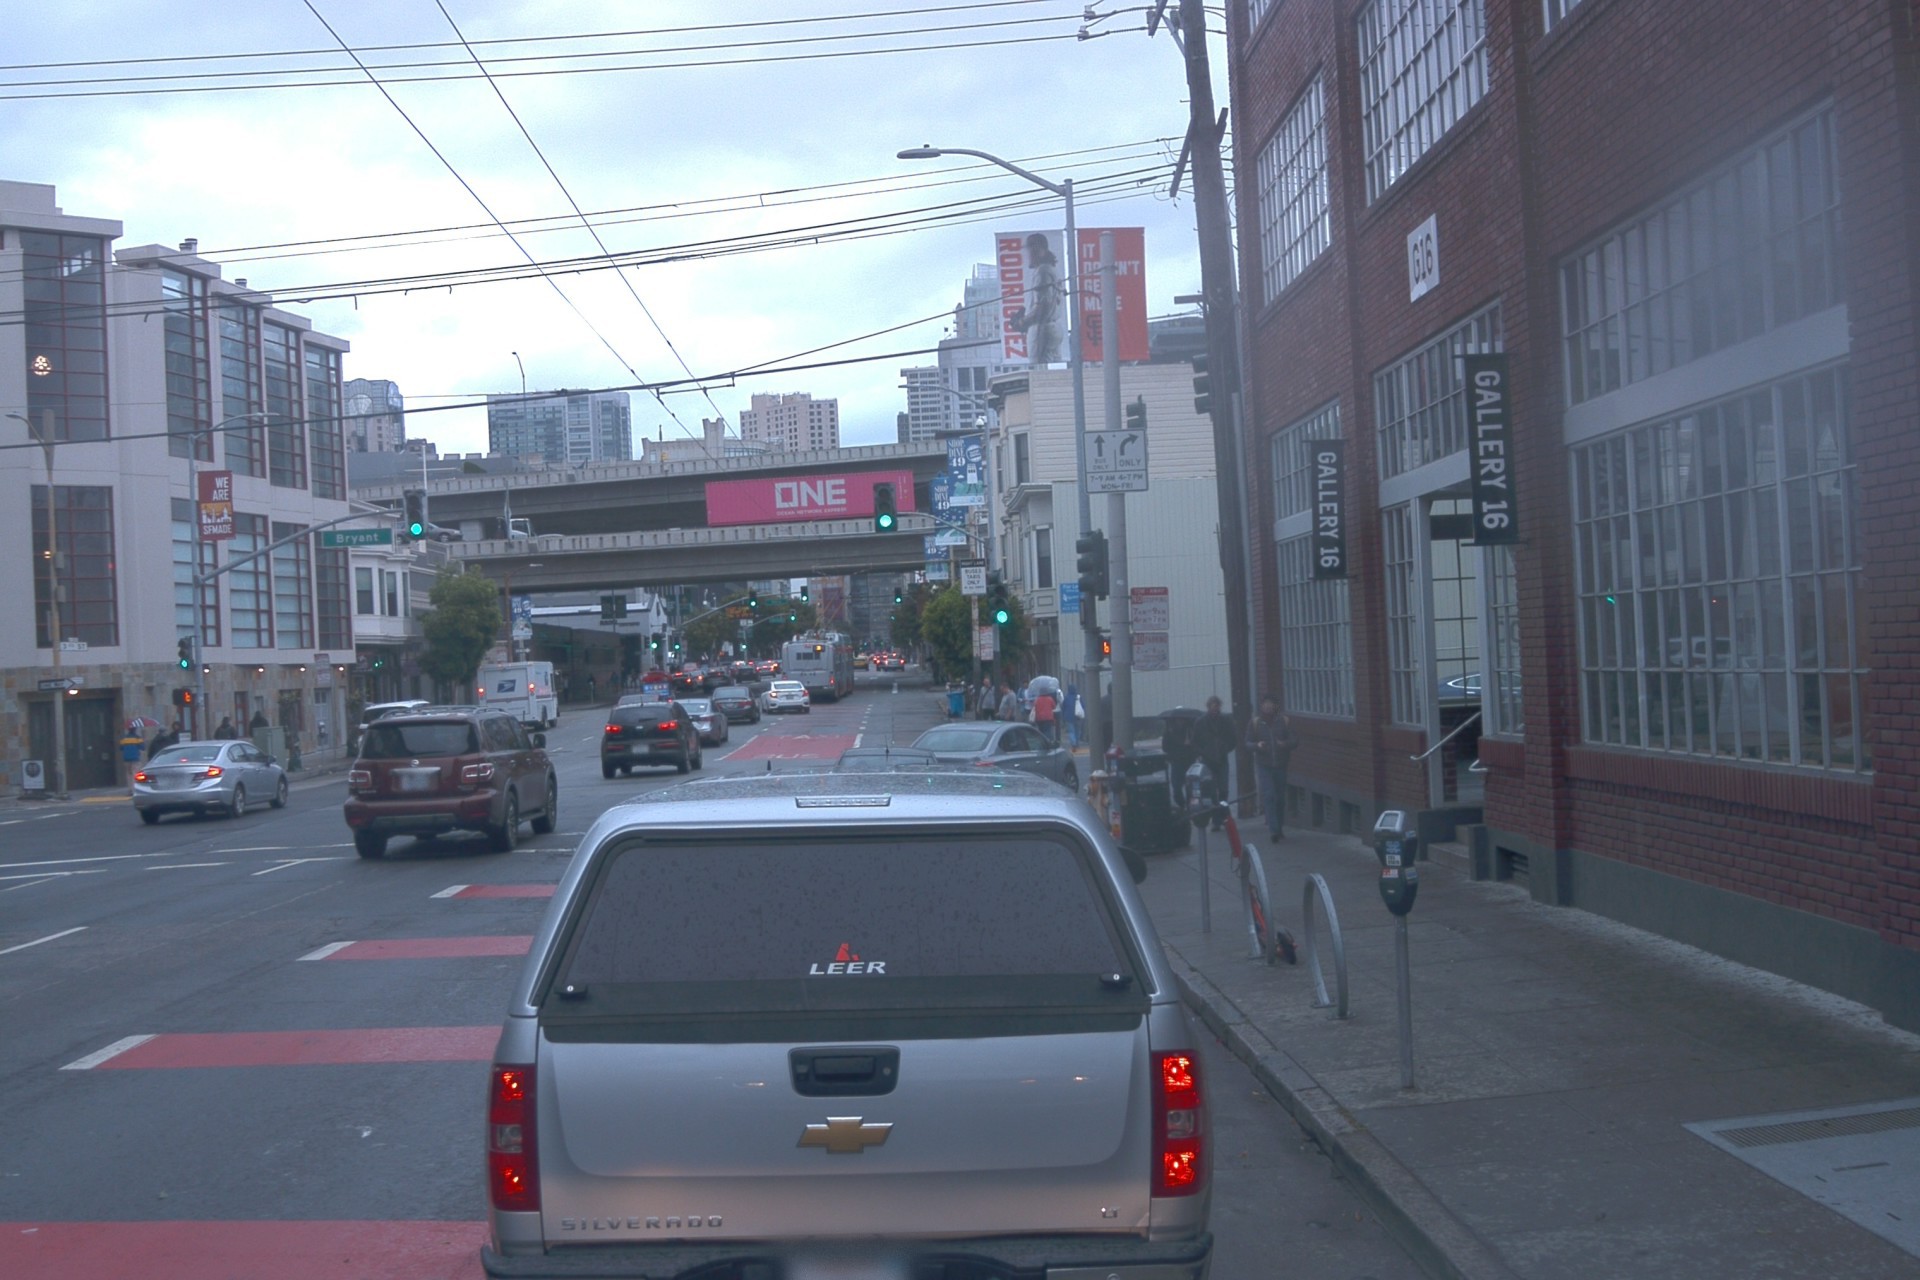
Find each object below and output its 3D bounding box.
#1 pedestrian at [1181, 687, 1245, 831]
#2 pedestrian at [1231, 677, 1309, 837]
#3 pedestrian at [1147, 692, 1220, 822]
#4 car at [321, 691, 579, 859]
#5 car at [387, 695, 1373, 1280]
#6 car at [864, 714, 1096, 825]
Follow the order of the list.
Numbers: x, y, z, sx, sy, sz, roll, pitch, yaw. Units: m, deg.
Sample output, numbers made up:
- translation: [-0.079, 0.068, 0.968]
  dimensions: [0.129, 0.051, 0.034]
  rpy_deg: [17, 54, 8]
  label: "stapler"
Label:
- translation: [3.348, 1.562, 27.488]
  dimensions: [0.749, 1.870, 0.954]
  rpy_deg: [0, -1, 1]
  label: "pedestrian"
- translation: [3.598, 1.349, 24.144]
  dimensions: [0.763, 1.820, 0.914]
  rpy_deg: [0, -1, 0]
  label: "pedestrian"
- translation: [3.292, 1.707, 30.600]
  dimensions: [1.015, 1.870, 1.039]
  rpy_deg: [0, -1, 3]
  label: "pedestrian"
- translation: [-6.988, 1.788, 29.078]
  dimensions: [2.421, 2.080, 5.314]
  rpy_deg: [0, -1, -1]
  label: "car"
- translation: [-0.312, 1.283, 7.858]
  dimensions: [2.411, 2.070, 5.546]
  rpy_deg: [0, -1, -3]
  label: "car"
- translation: [0.403, 1.968, 32.570]
  dimensions: [2.071, 1.500, 4.414]
  rpy_deg: [-1, -1, 24]
  label: "car"
